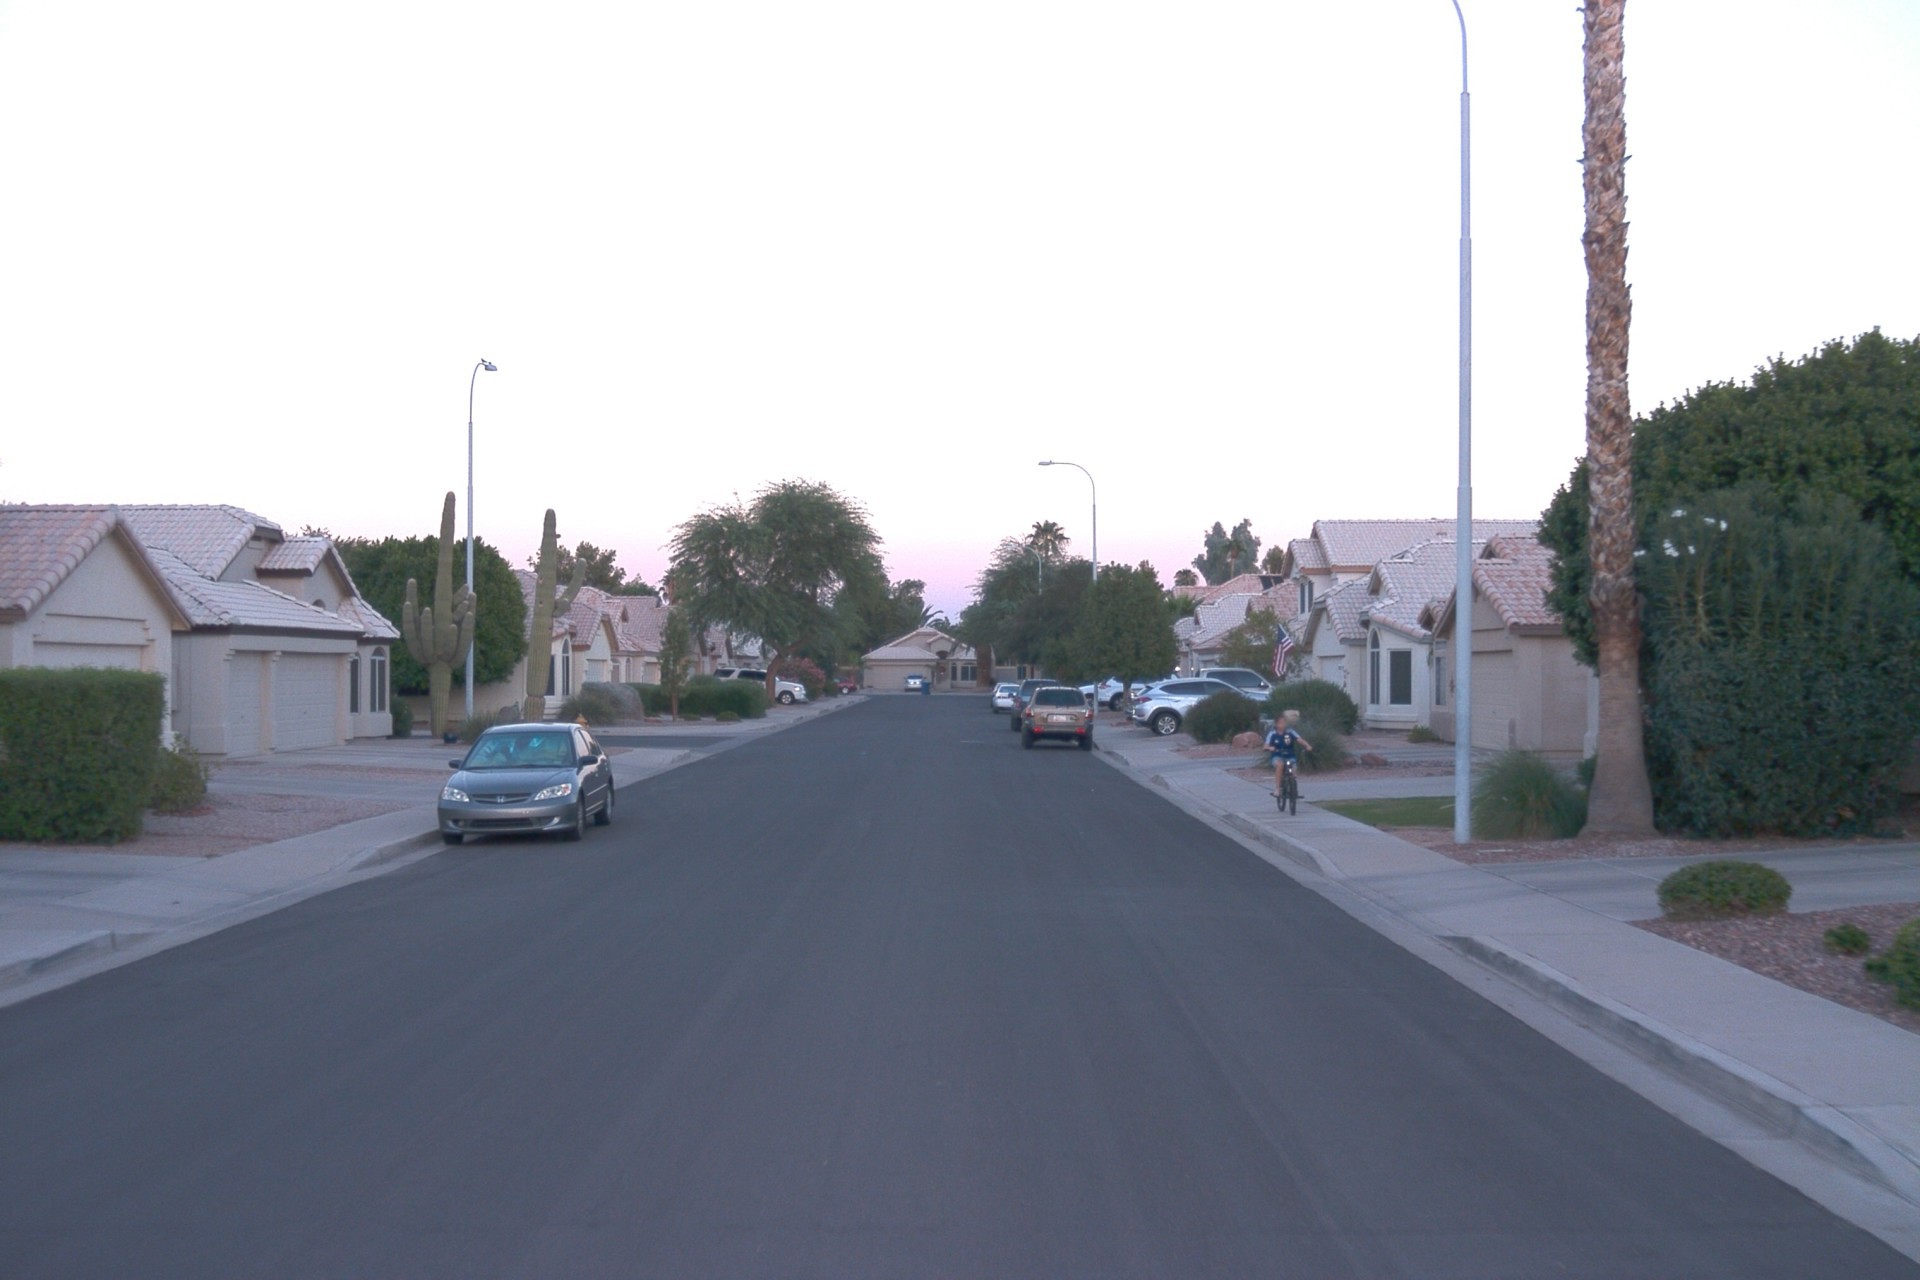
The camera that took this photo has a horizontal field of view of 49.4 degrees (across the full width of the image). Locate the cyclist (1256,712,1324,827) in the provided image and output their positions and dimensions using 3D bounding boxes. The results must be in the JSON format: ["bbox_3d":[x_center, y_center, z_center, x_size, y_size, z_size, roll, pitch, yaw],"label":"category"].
[{"bbox_3d":[4.566,1.771,28.964,0.746,1.510,1.563,0,0,2],"label":"cyclist"}]

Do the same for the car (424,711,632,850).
[{"bbox_3d":[-5.520,1.751,27.229,1.908,1.540,4.629,0,-1,-2],"label":"car"}]
